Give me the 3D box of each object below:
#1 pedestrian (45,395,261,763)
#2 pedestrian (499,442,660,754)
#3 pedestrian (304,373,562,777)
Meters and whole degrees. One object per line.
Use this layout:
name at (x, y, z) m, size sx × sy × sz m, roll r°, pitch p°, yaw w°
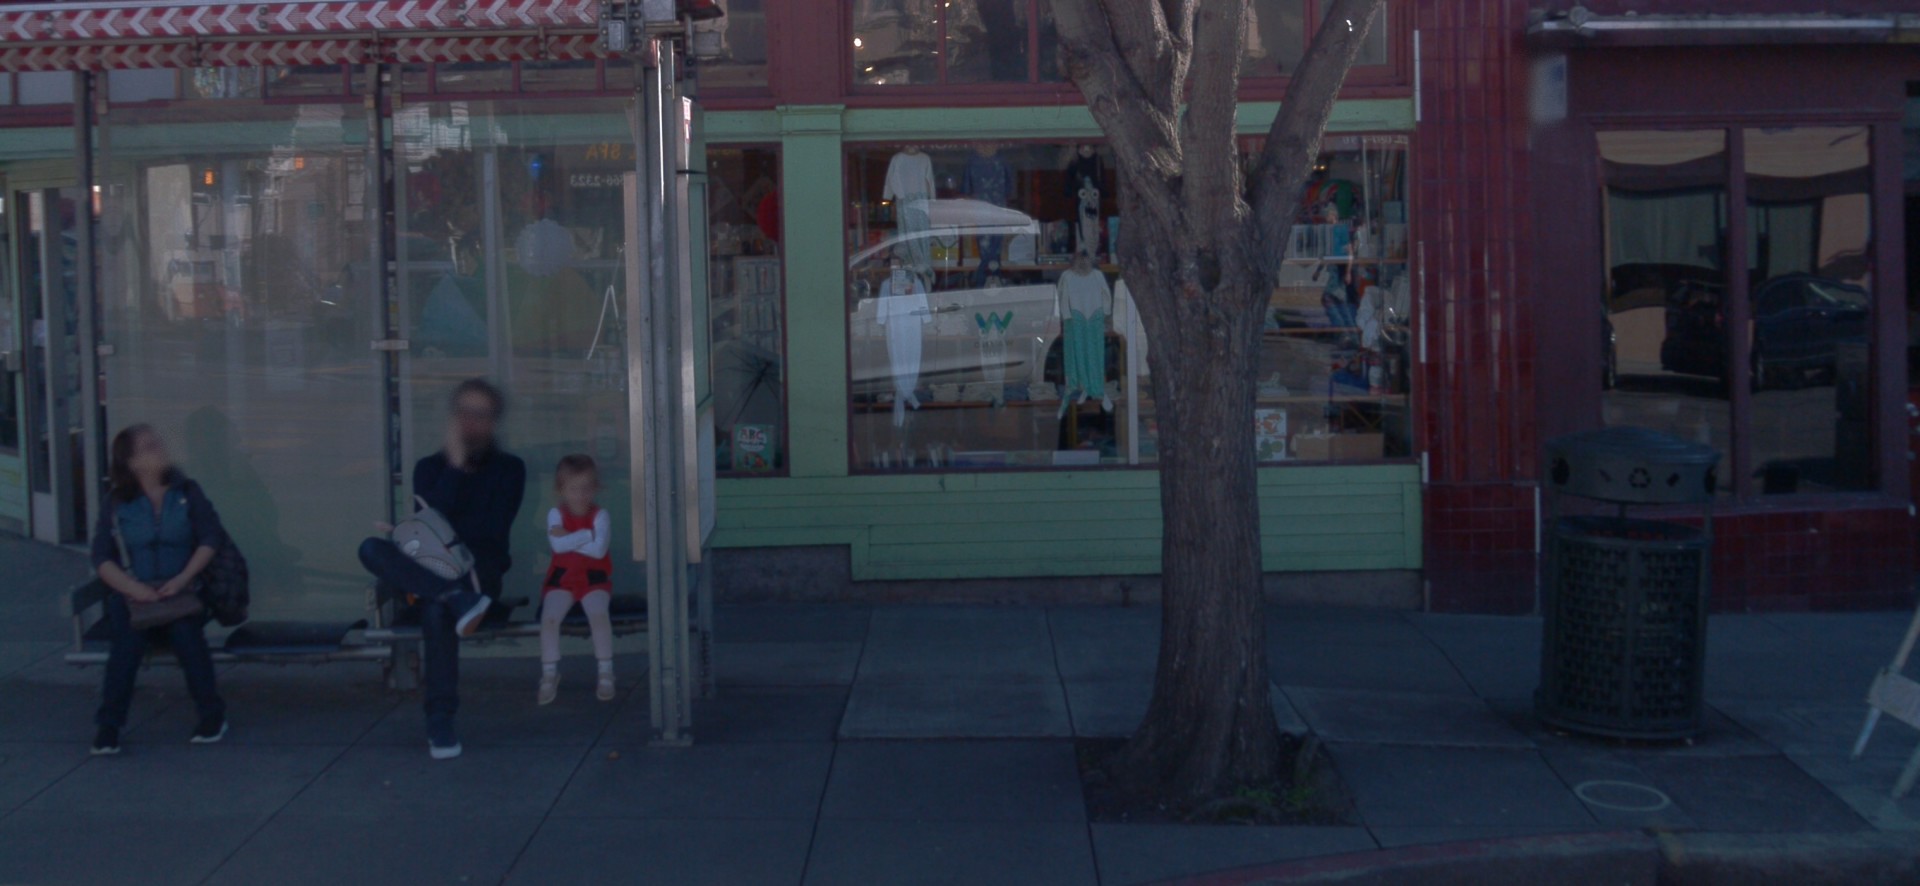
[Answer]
pedestrian at (-3.126, 0.487, 8.060) m, size 0.737 × 1.258 × 0.794 m, roll -1°, pitch 2°, yaw -19°
pedestrian at (-1.464, 0.579, 8.008) m, size 0.528 × 1.098 × 0.572 m, roll 0°, pitch 2°, yaw -3°
pedestrian at (-2.008, 0.466, 7.986) m, size 0.753 × 1.398 × 0.926 m, roll 0°, pitch 2°, yaw 0°
